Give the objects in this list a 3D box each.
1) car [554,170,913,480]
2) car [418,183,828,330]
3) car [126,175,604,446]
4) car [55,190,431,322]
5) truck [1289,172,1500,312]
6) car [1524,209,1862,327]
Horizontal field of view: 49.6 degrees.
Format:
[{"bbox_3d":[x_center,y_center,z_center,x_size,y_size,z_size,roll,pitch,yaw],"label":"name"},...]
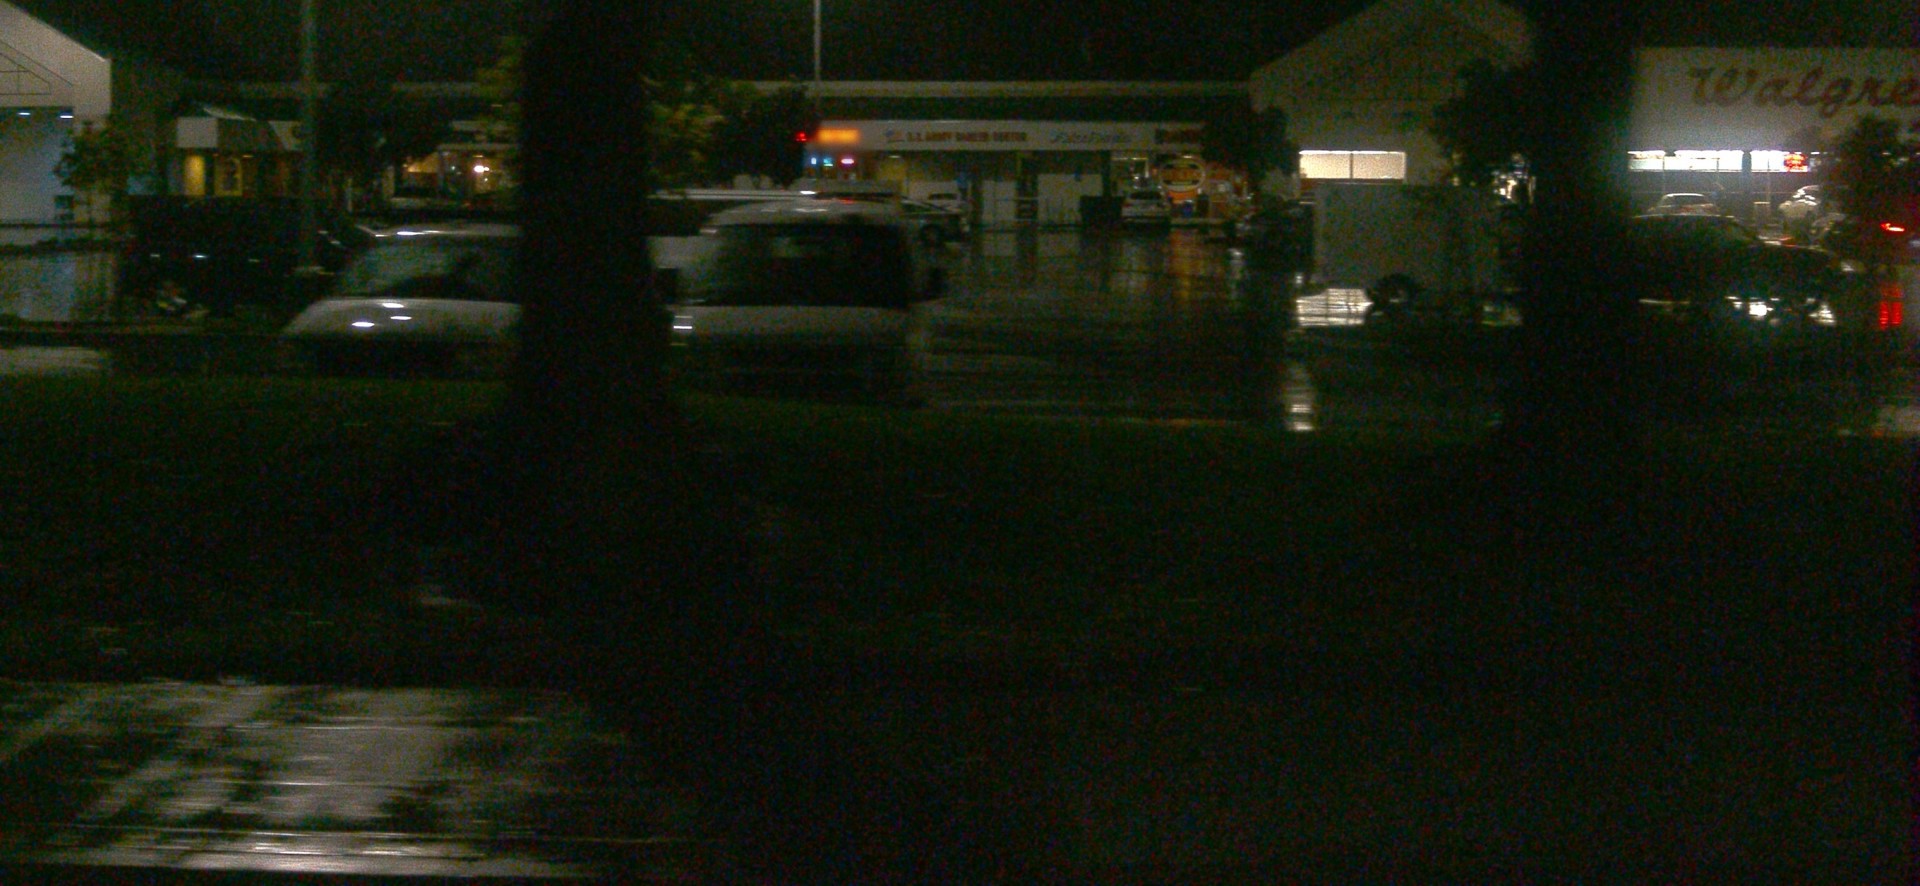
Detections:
[{"bbox_3d":[-1.676,-1.101,17.608,2.383,2.183,5.604,0,5,0],"label":"car"},{"bbox_3d":[-5.268,-2.968,32.931,6.041,2.209,2.086,1,2,6],"label":"car"},{"bbox_3d":[-4.672,-1.194,17.456,2.344,1.884,5.652,0,5,0],"label":"car"},{"bbox_3d":[-11.444,-3.013,33.434,5.250,1.998,2.177,1,3,4],"label":"car"},{"bbox_3d":[7.804,-3.637,37.652,3.476,2.418,2.331,1,2,5],"label":"truck"},{"bbox_3d":[13.011,-3.148,37.204,5.351,2.008,2.136,1,3,5],"label":"car"}]
